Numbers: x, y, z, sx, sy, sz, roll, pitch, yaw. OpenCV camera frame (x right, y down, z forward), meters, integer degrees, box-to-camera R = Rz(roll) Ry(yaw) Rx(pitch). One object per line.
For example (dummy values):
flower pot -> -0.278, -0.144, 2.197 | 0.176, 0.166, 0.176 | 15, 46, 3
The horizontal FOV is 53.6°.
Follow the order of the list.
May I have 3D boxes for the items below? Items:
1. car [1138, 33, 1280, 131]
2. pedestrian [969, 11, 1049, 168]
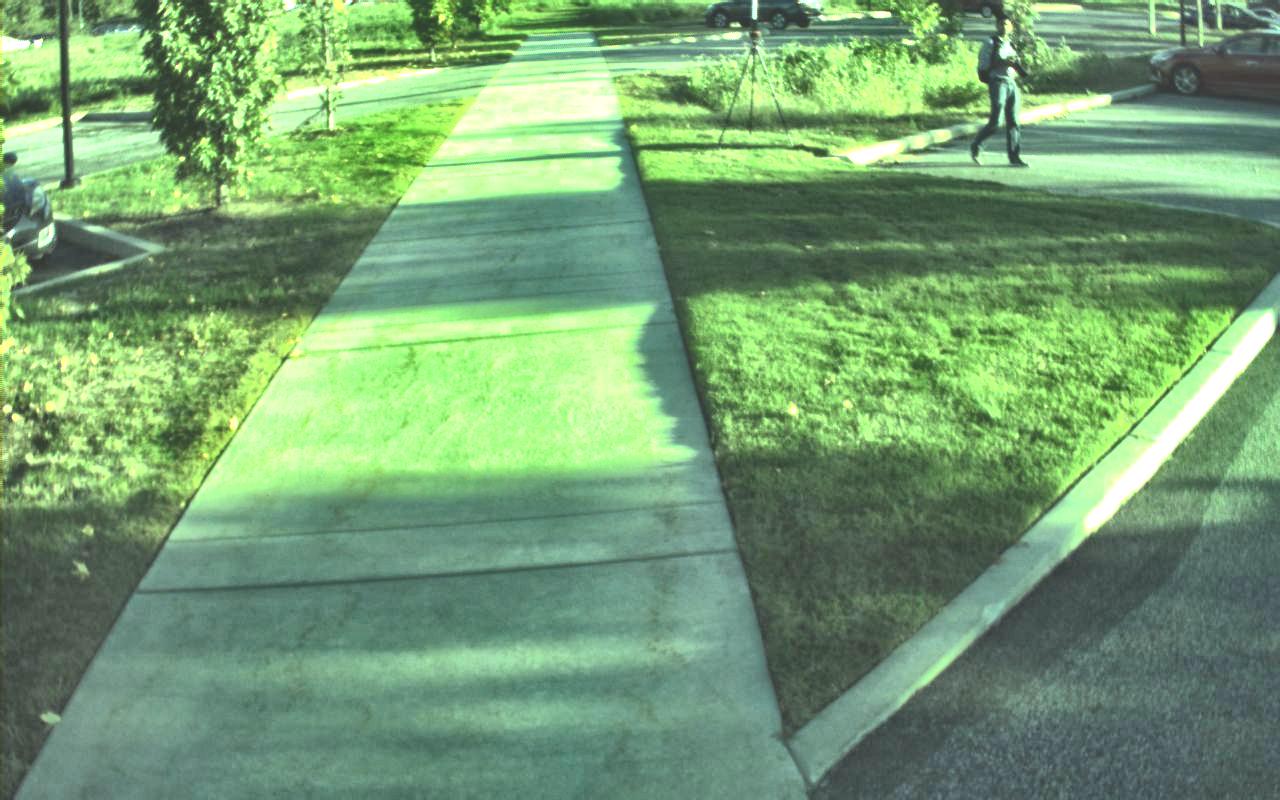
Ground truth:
car -> 12.265, -6.344, 22.242 | 4.483, 1.577, 1.947 | 12, 20, 39
pedestrian -> 4.171, -3.507, 13.517 | 0.775, 1.725, 0.812 | 0, 14, 4
